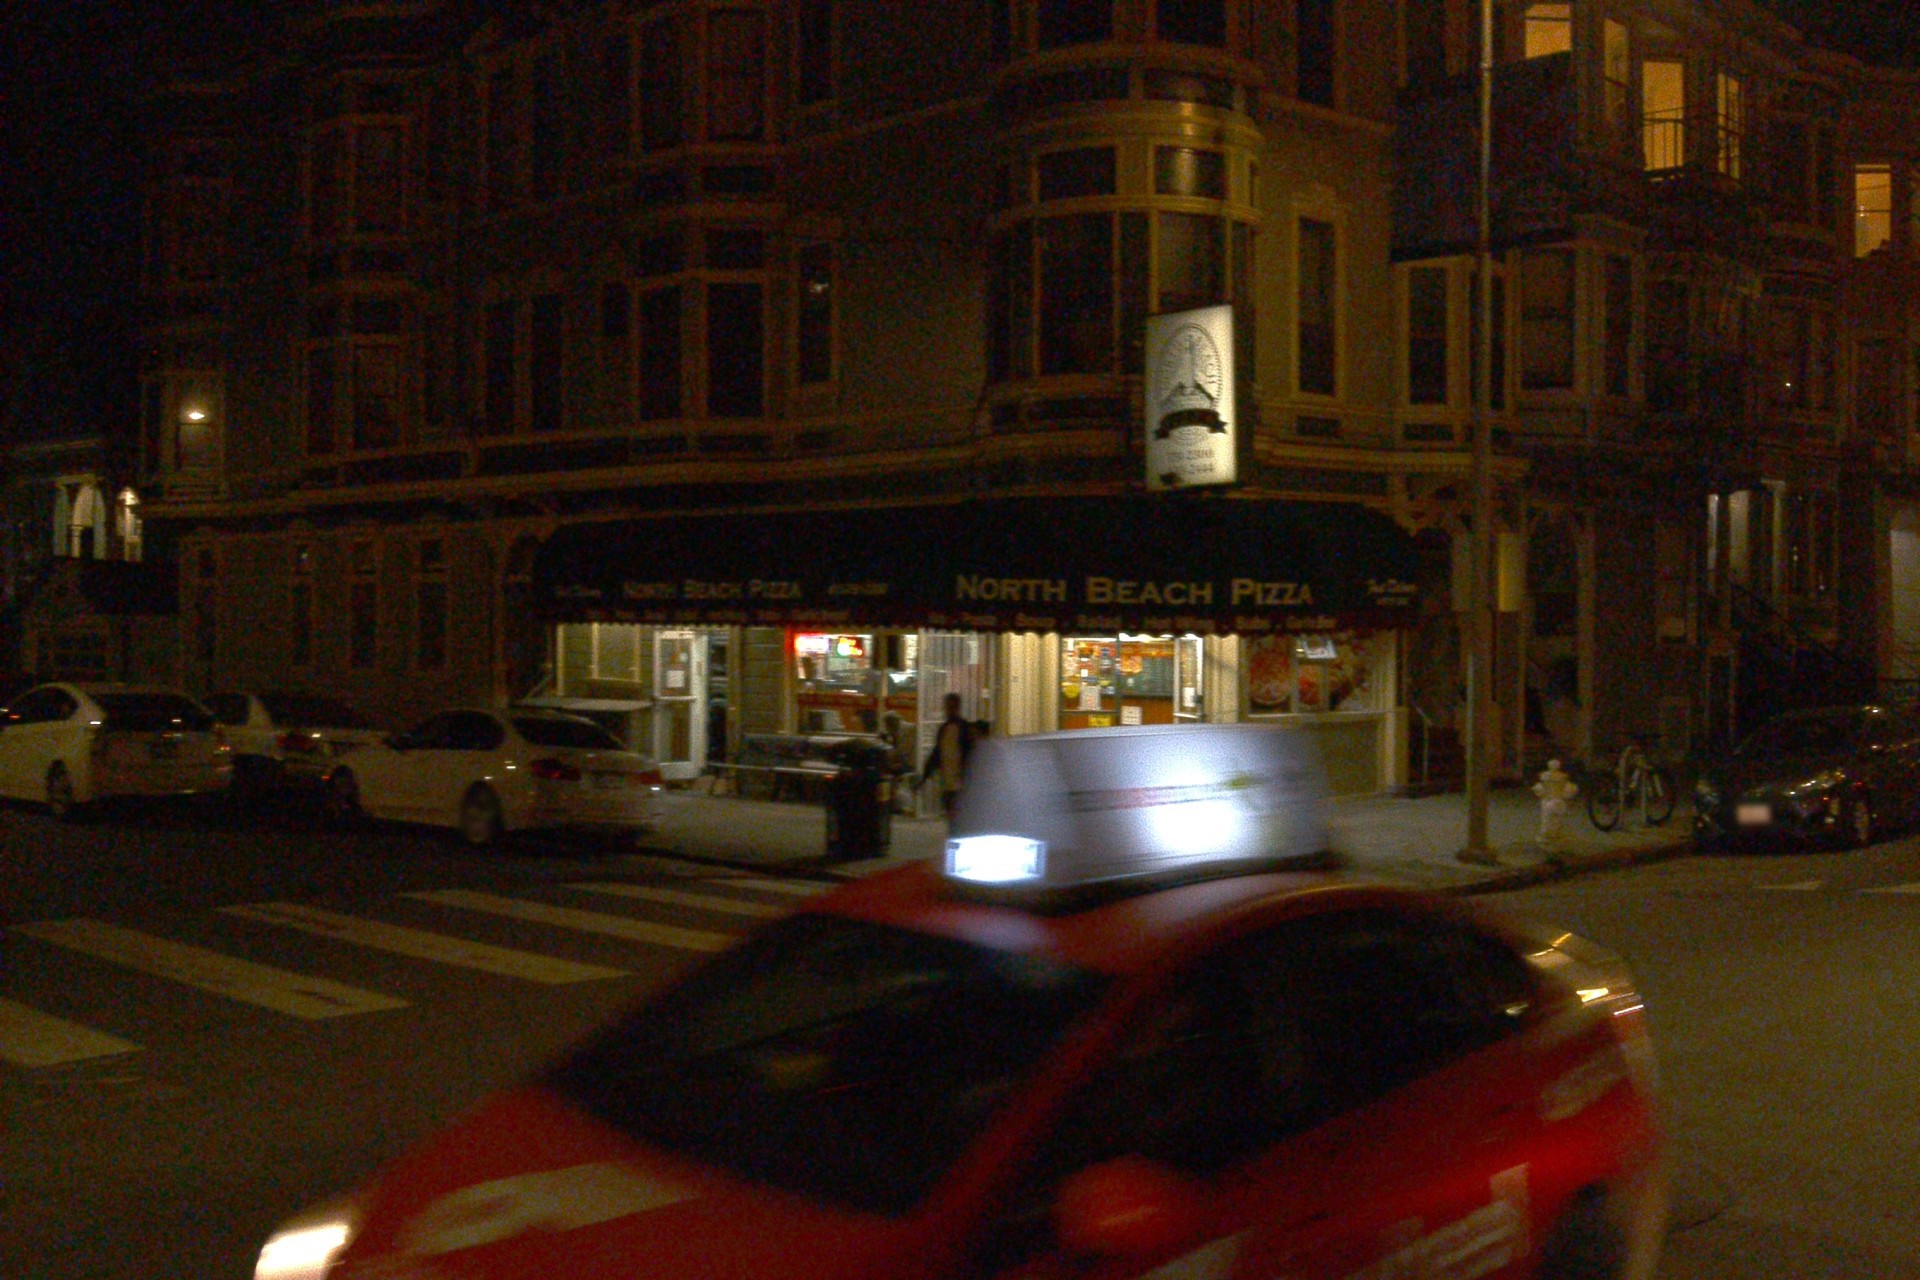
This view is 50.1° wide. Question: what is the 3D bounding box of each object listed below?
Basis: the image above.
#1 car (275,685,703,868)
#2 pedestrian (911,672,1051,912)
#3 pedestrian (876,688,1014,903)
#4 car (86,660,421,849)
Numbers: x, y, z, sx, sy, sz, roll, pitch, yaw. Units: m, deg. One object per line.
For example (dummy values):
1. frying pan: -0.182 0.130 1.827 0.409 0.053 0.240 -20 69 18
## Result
1. car: -5.038 1.327 21.566 4.688 1.490 2.186 2 1 45
2. pedestrian: 0.182 1.278 17.755 0.806 1.970 0.872 2 1 42
3. pedestrian: -0.132 1.351 18.287 0.773 1.800 0.947 2 1 42
4. car: -8.615 1.282 24.835 4.522 1.920 1.977 2 1 44
